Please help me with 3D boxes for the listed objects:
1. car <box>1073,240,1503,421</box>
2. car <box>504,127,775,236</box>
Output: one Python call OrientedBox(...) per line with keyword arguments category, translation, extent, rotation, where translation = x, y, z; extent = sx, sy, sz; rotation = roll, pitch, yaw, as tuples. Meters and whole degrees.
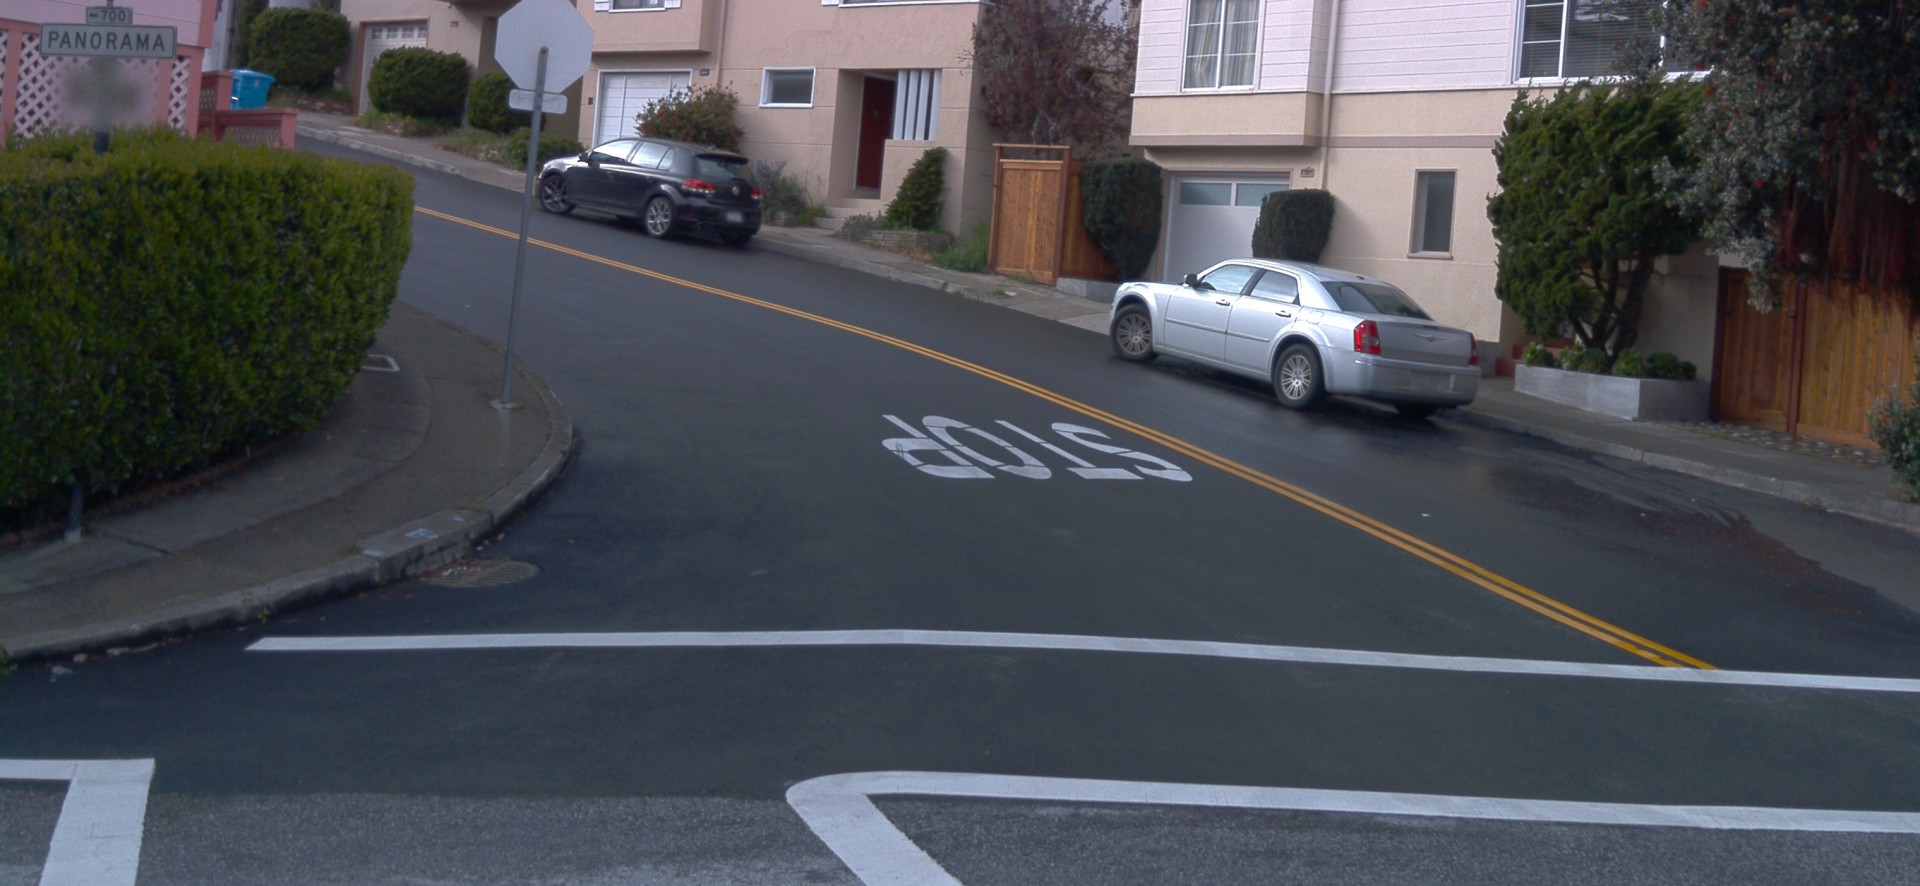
OrientedBox(category="car", translation=(3.502, -1.368, 23.193), extent=(1.984, 1.682, 4.921), rotation=(-2, 6, -33))
OrientedBox(category="car", translation=(-5.065, -4.094, 32.587), extent=(4.119, 1.604, 1.867), rotation=(5, 6, 38))
